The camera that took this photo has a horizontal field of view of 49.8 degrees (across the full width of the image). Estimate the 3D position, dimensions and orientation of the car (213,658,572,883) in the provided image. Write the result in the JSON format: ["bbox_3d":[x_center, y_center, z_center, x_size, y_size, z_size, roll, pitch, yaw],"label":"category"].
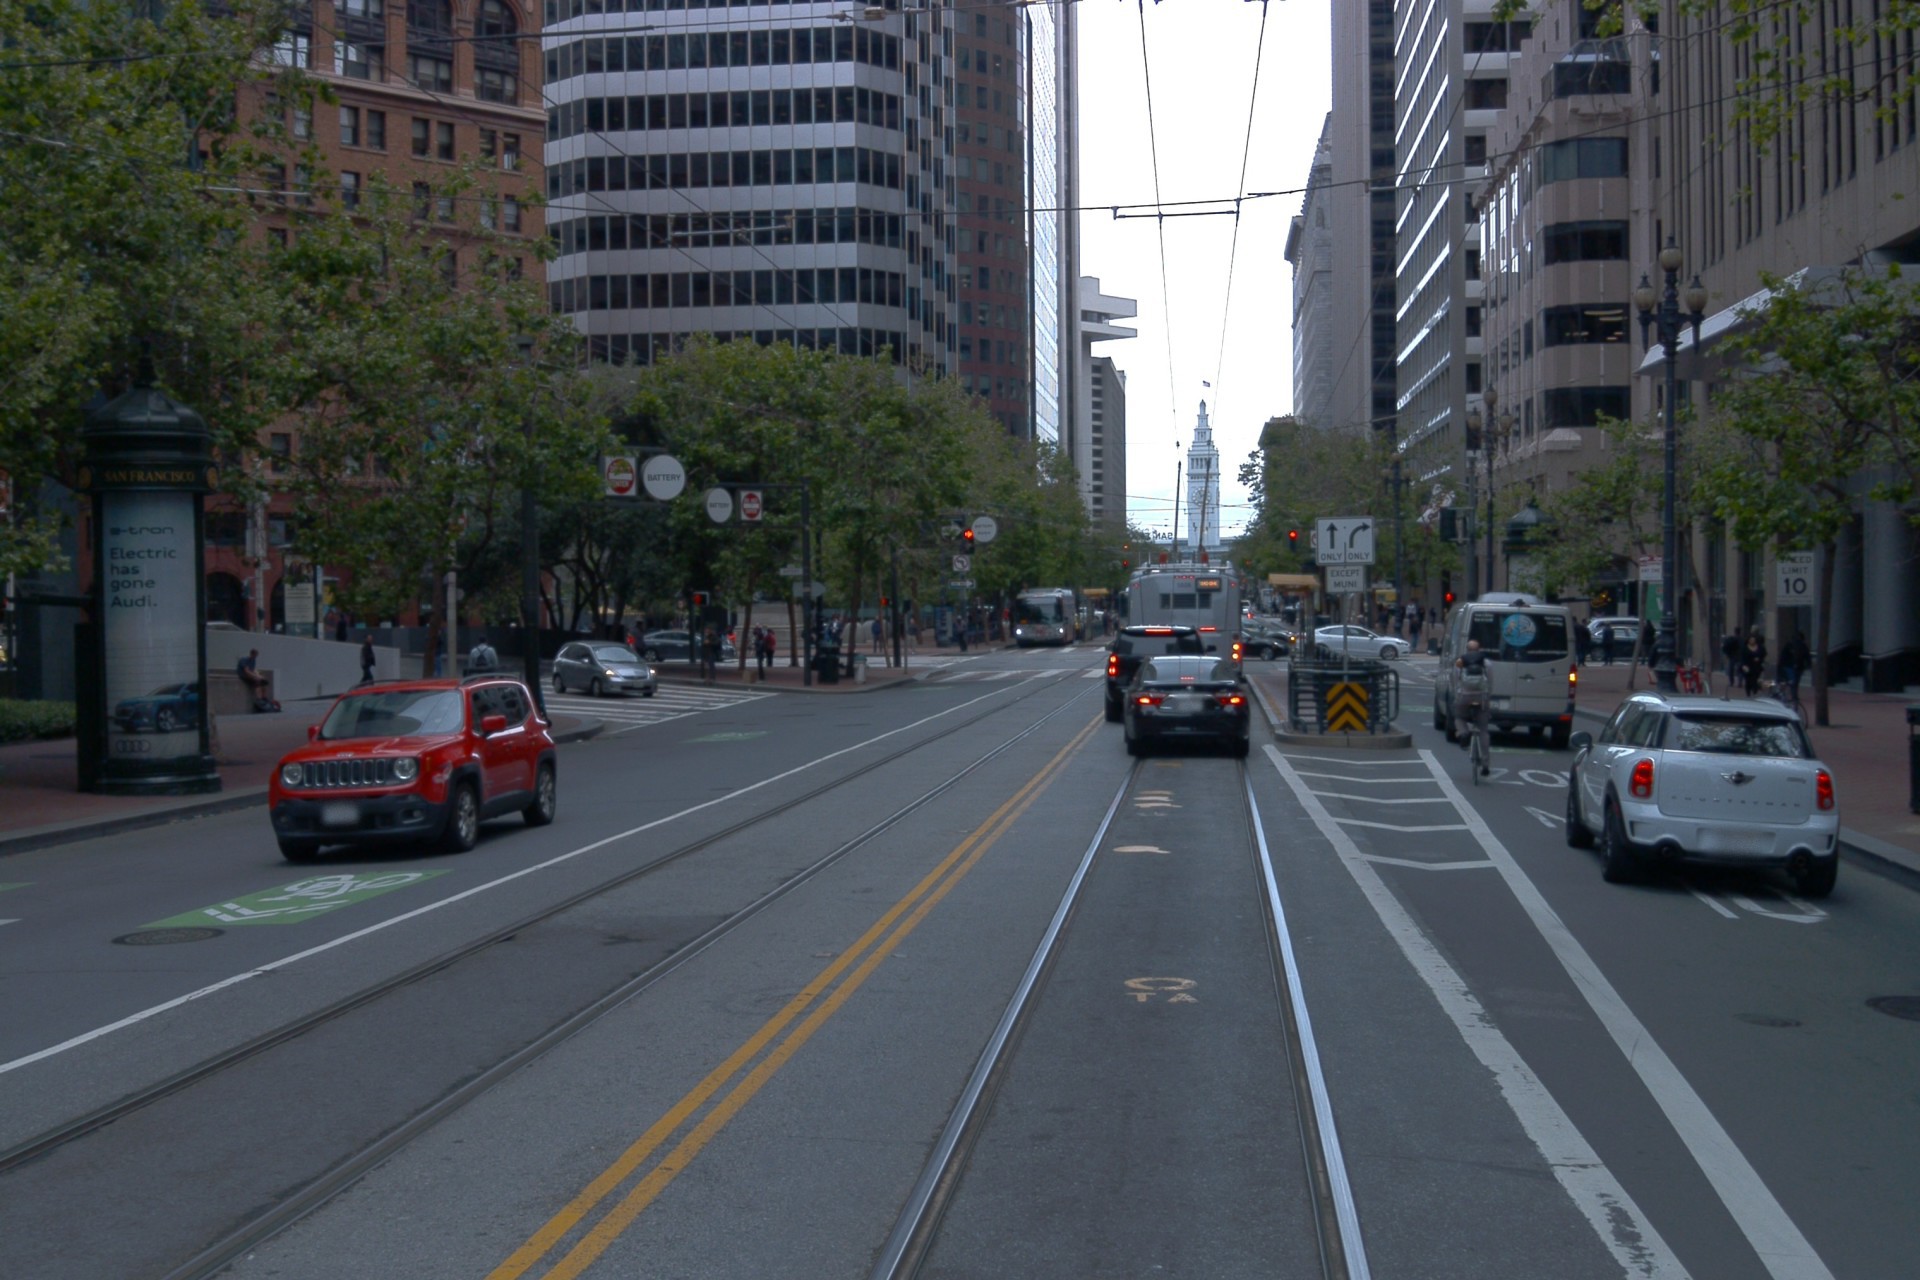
[{"bbox_3d":[-5.382,1.166,20.226,2.064,1.890,4.116,0,1,5],"label":"car"}]

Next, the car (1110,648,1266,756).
[{"bbox_3d":[3.413,0.891,31.774,2.188,1.460,4.686,0,1,4],"label":"car"}]

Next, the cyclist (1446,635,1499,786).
[{"bbox_3d":[6.681,0.897,26.970,0.638,1.900,1.438,0,1,13],"label":"cyclist"}]

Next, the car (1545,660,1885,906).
[{"bbox_3d":[6.302,1.106,17.715,2.076,1.784,3.876,0,1,10],"label":"car"}]

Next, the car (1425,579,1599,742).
[{"bbox_3d":[9.455,0.306,35.823,2.537,2.590,5.346,0,1,11],"label":"car"}]
